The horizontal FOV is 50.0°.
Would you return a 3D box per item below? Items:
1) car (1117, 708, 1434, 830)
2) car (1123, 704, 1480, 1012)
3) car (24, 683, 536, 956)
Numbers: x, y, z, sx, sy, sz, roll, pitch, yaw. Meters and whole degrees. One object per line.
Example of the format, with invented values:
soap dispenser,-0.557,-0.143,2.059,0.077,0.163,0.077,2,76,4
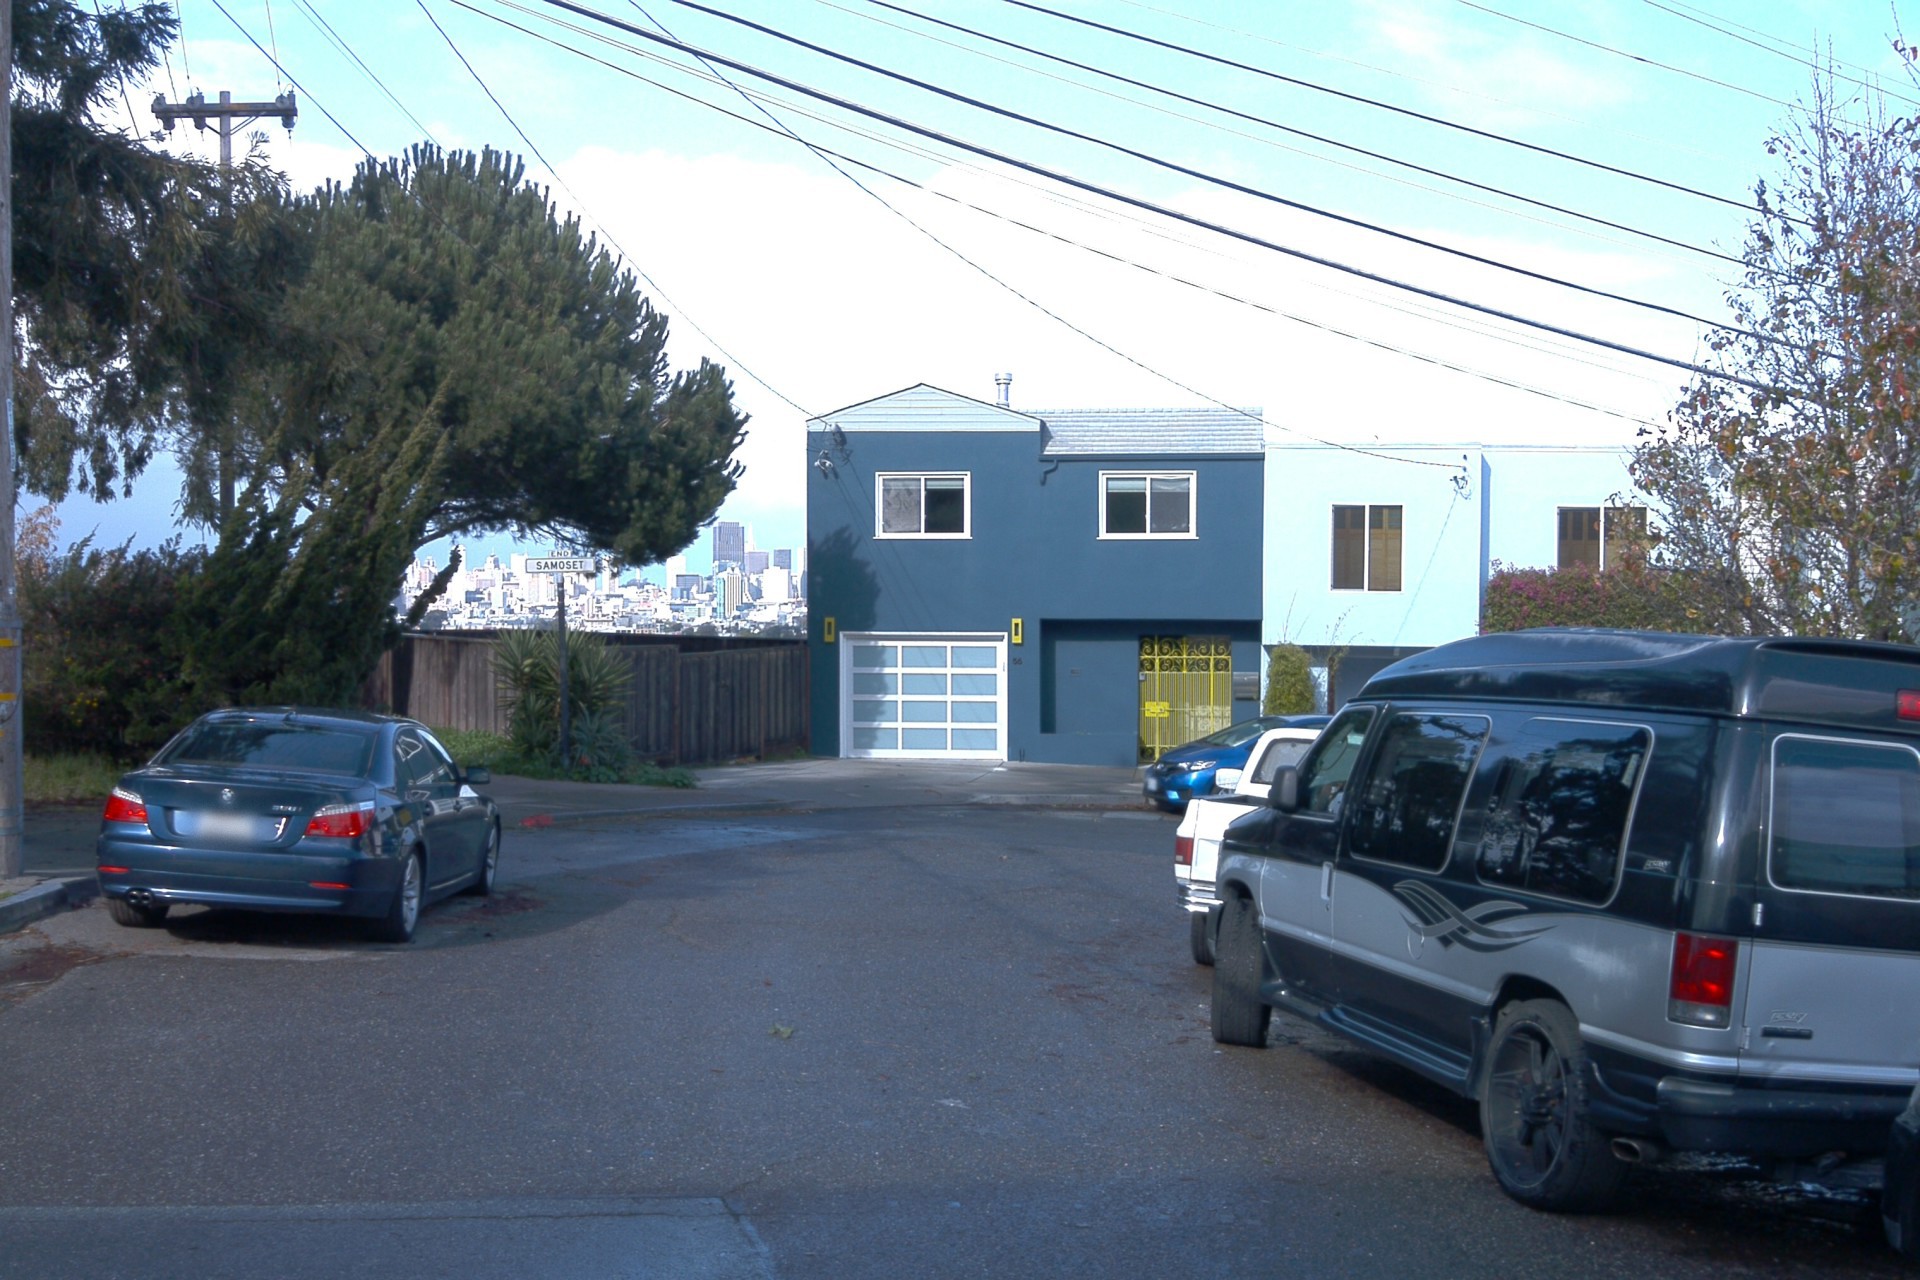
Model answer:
car,4.440,1.786,29.145,4.014,1.560,1.835,0,1,-17
car,2.844,1.502,16.063,2.234,1.770,4.979,1,1,15
car,-4.416,1.095,14.244,2.157,1.430,4.598,1,1,-2
